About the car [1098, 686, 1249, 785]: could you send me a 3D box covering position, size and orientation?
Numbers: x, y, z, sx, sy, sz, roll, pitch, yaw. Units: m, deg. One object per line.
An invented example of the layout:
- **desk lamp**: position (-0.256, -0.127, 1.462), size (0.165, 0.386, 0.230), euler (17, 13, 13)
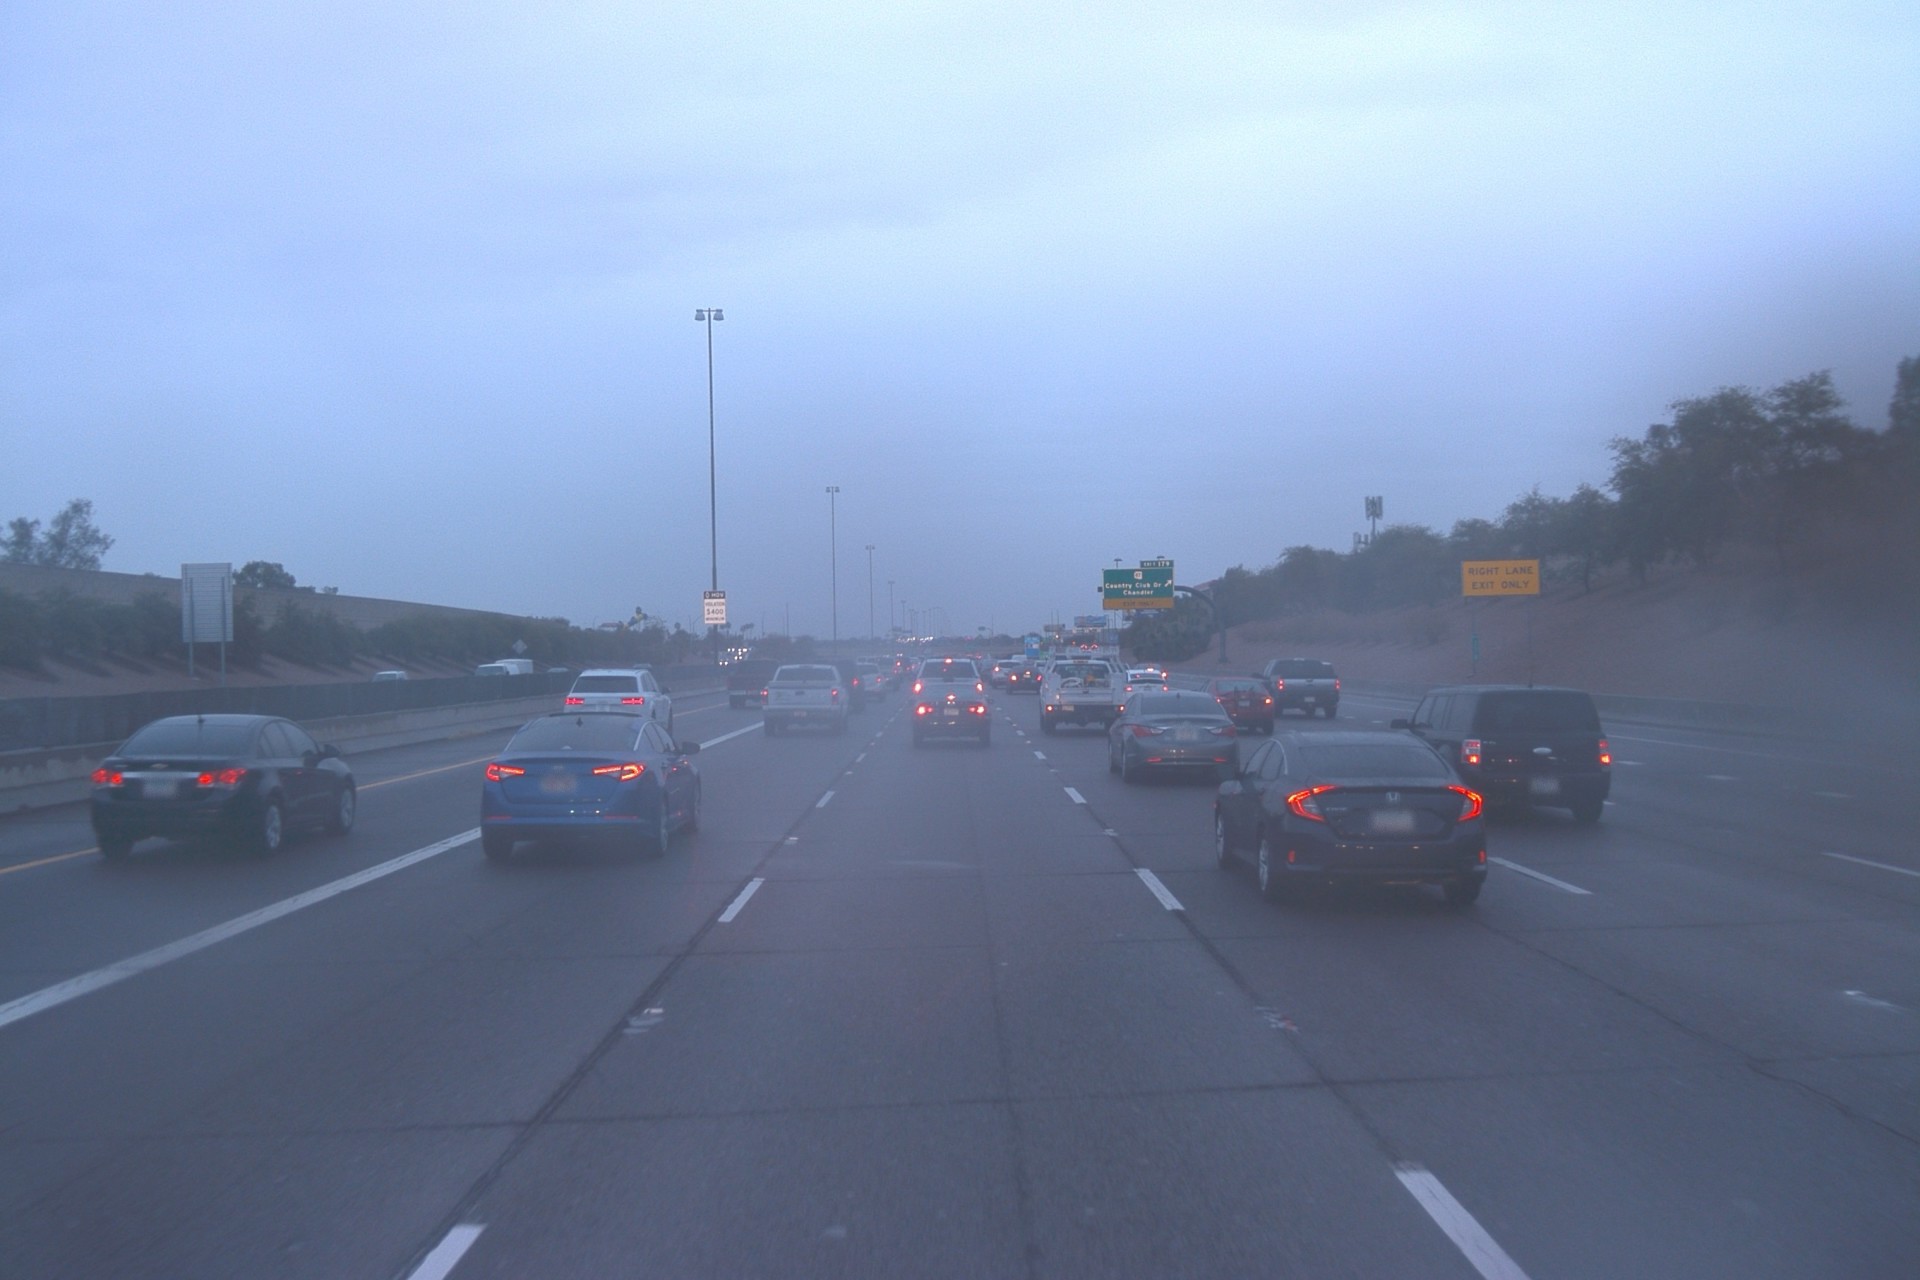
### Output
- **car**: position (3.456, 1.526, 34.328), size (2.017, 1.450, 4.379), euler (0, 0, 0)

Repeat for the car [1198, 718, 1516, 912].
- **car**: position (3.374, 1.460, 18.511), size (1.973, 1.380, 4.335), euler (0, 0, 0)

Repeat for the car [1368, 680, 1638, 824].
- **car**: position (6.915, 1.372, 27.045), size (2.228, 1.630, 4.896), euler (0, 0, 0)

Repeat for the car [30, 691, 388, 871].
- **car**: position (-7.913, 1.417, 22.454), size (2.177, 1.650, 4.773), euler (0, 0, 0)

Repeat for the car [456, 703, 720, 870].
- **car**: position (-3.879, 1.492, 22.439), size (1.988, 1.510, 4.517), euler (0, 0, 1)
